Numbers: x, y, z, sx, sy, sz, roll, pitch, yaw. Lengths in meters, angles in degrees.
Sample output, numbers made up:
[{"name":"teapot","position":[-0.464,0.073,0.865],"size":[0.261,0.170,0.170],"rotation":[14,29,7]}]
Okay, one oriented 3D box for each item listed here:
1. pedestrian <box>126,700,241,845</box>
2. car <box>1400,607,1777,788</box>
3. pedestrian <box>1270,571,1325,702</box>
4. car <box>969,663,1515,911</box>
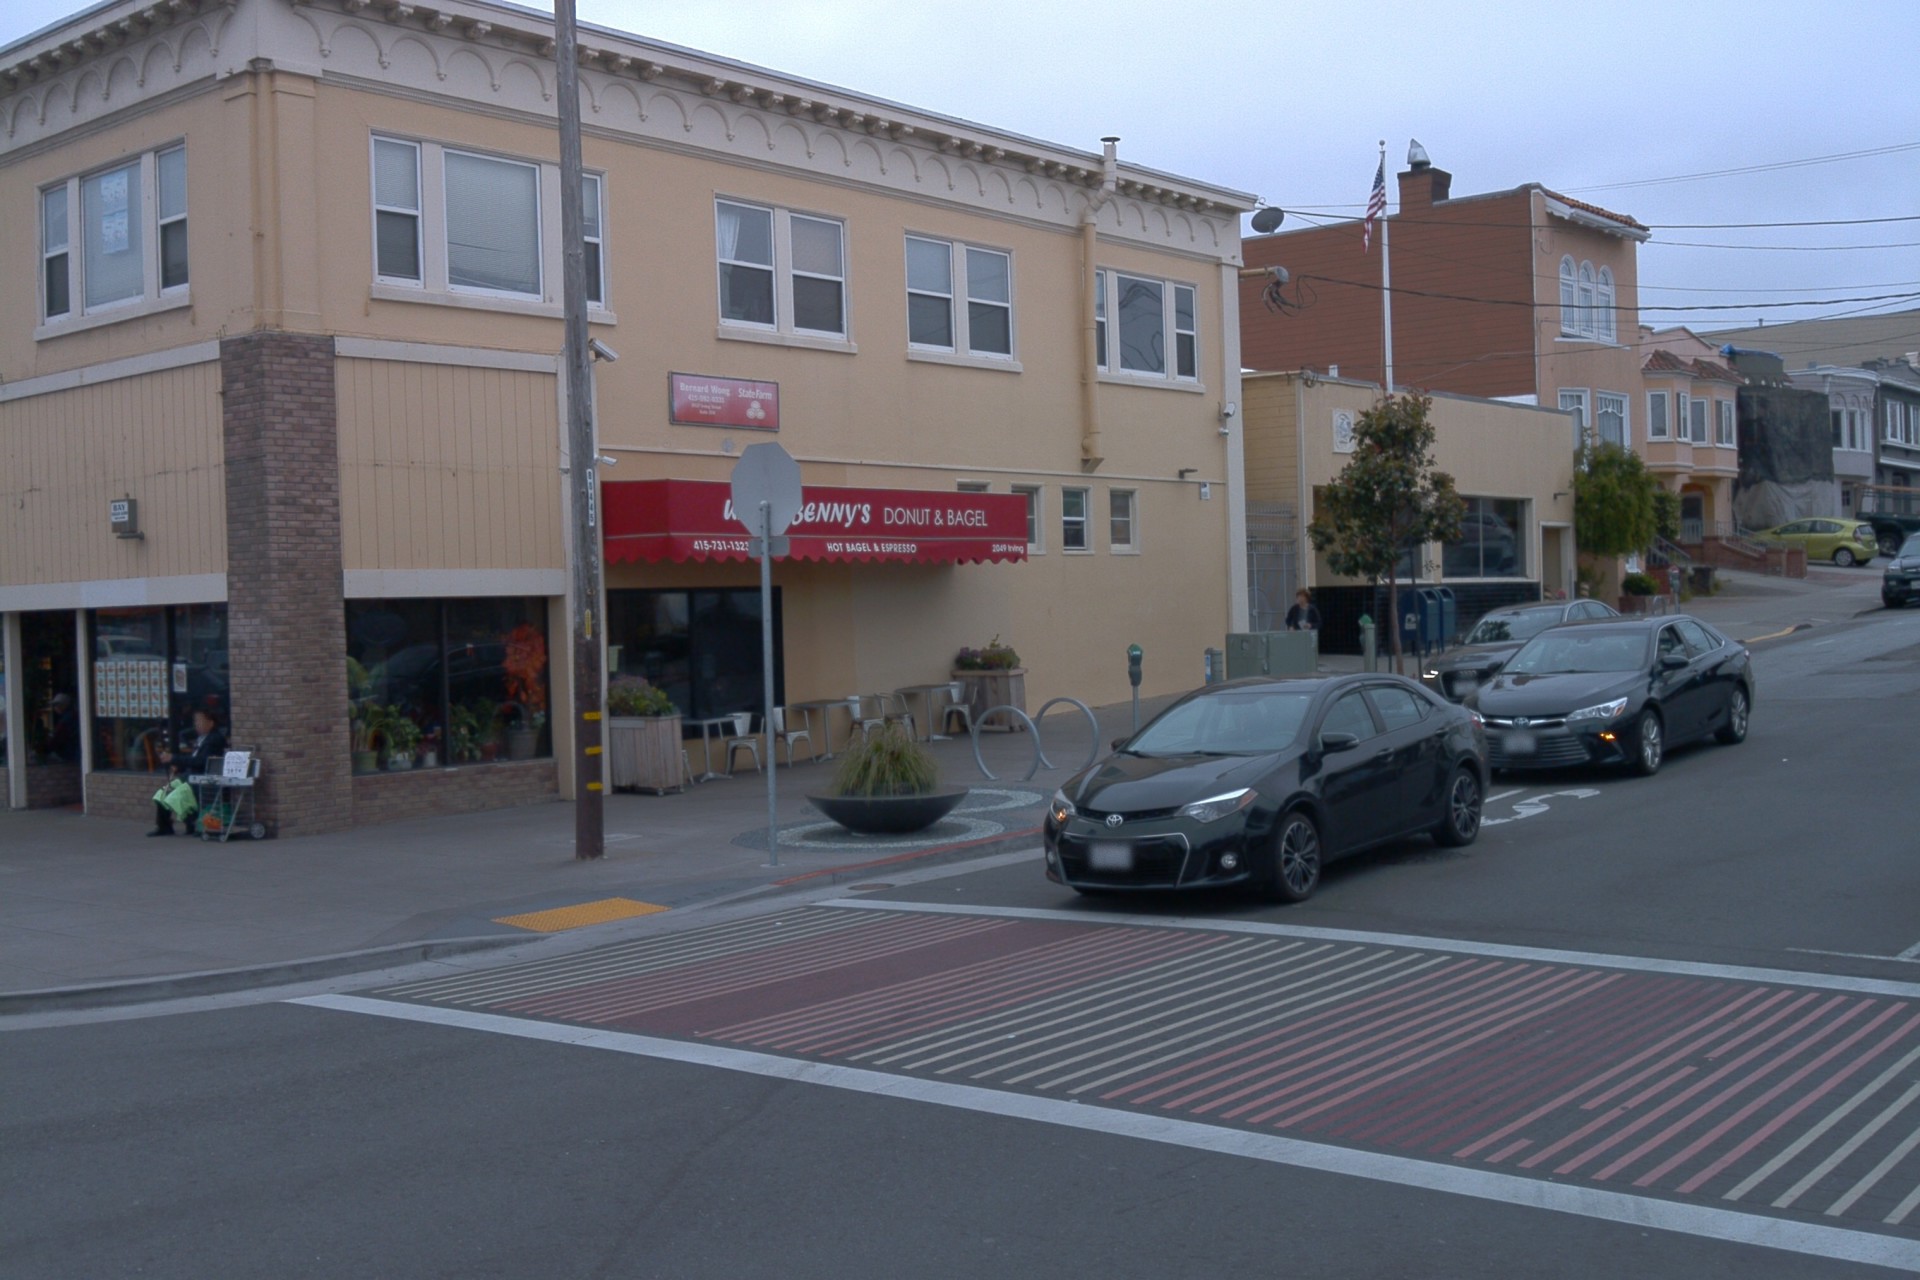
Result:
[{"name":"pedestrian","position":[-7.796,1.316,20.742],"size":[0.878,1.374,0.735],"rotation":[0,1,39]},{"name":"car","position":[6.596,0.501,21.300],"size":[2.082,1.644,4.864],"rotation":[0,1,39]},{"name":"pedestrian","position":[5.275,-0.057,32.284],"size":[0.738,2.018,0.671],"rotation":[0,1,21]},{"name":"car","position":[2.240,0.940,15.258],"size":[2.066,1.440,4.541],"rotation":[0,1,37]}]
